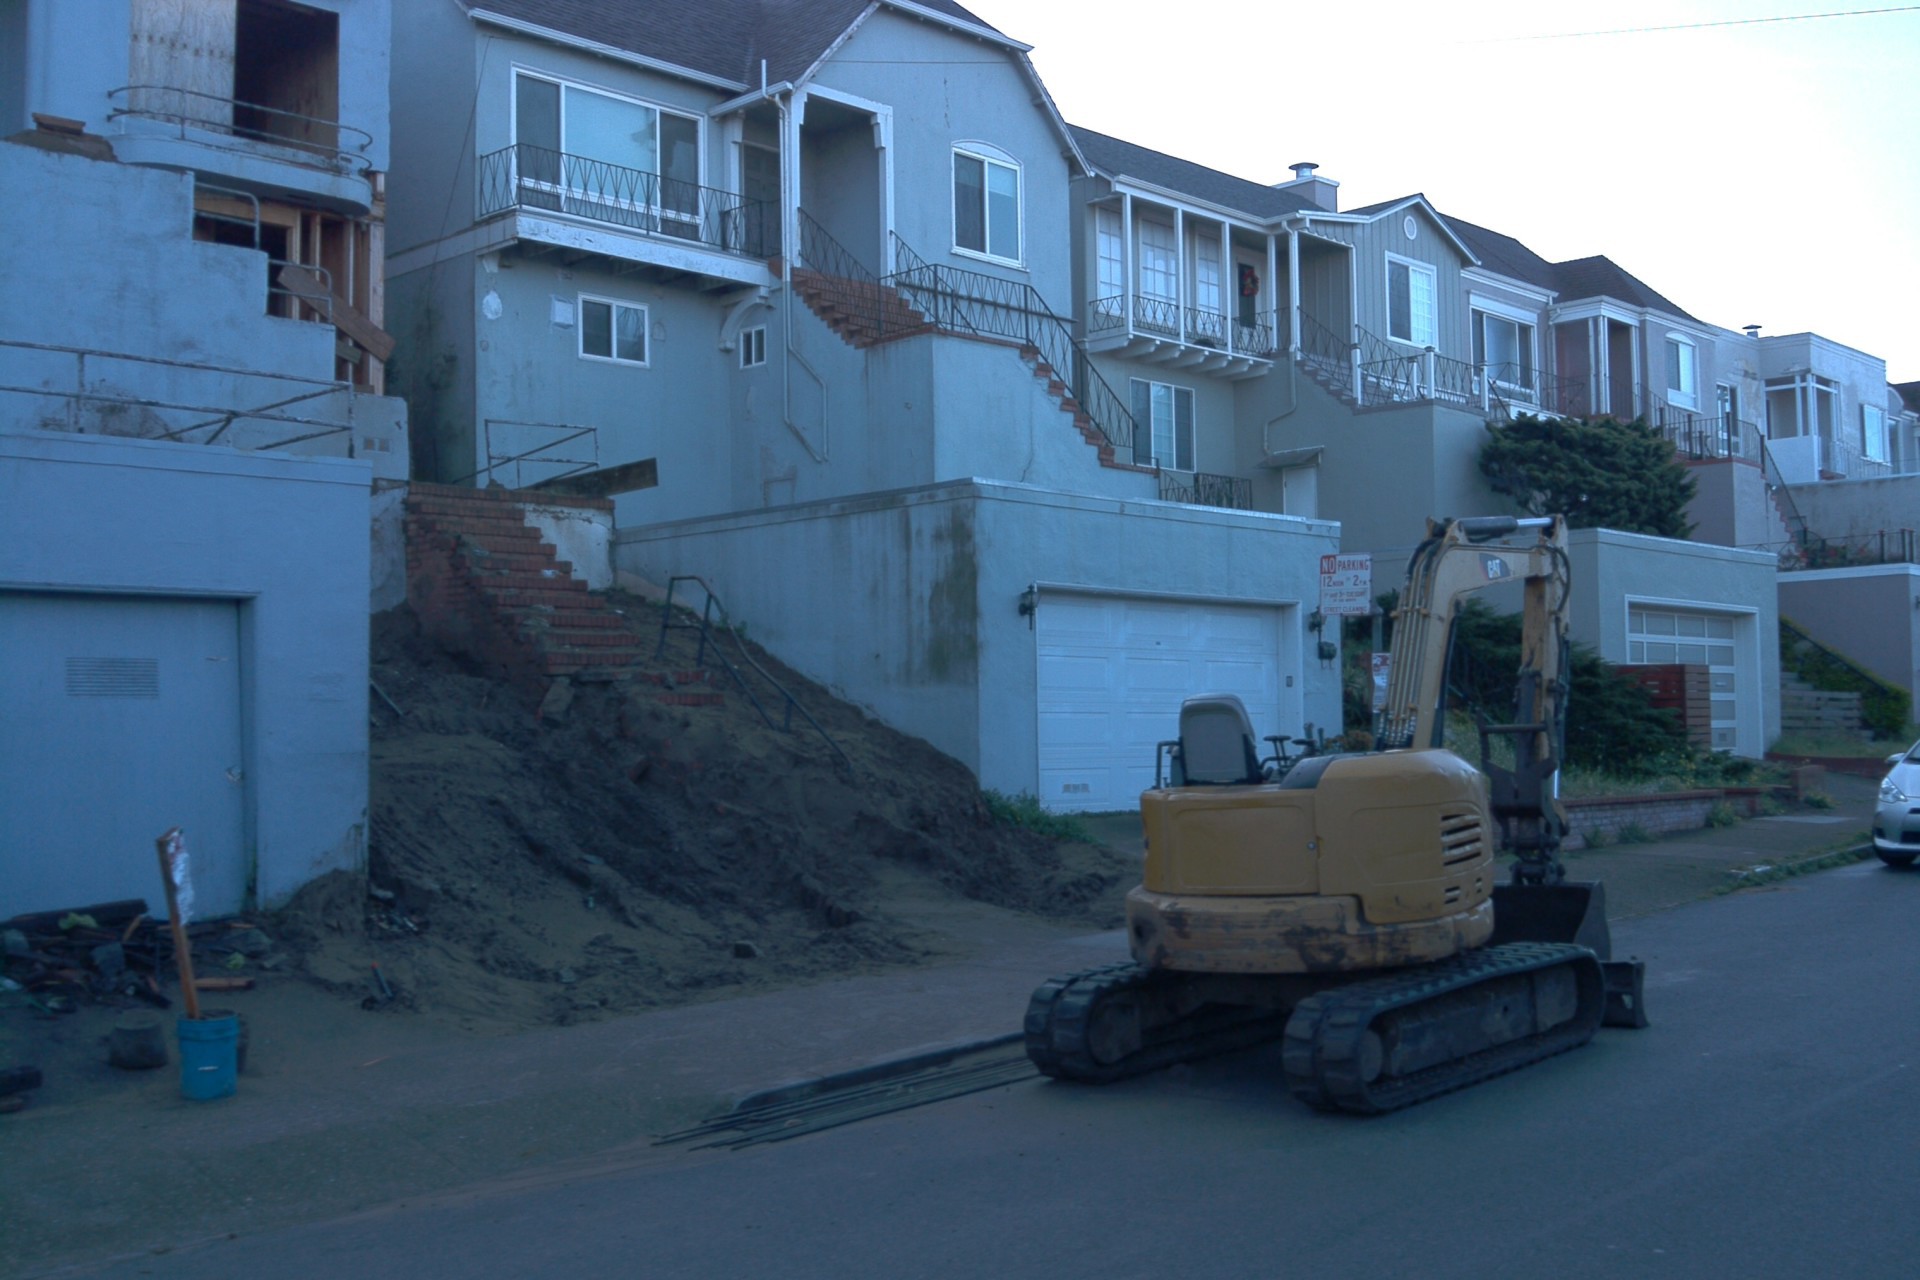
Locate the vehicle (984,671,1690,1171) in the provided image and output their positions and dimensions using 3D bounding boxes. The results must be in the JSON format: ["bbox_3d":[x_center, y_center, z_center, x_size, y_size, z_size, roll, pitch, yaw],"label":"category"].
[{"bbox_3d":[2.056,1.236,10.759,2.167,2.050,3.322,1,1,43],"label":"vehicle"}]

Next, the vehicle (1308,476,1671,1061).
[{"bbox_3d":[3.285,0.685,12.497,1.140,3.170,2.655,1,1,38],"label":"vehicle"}]
